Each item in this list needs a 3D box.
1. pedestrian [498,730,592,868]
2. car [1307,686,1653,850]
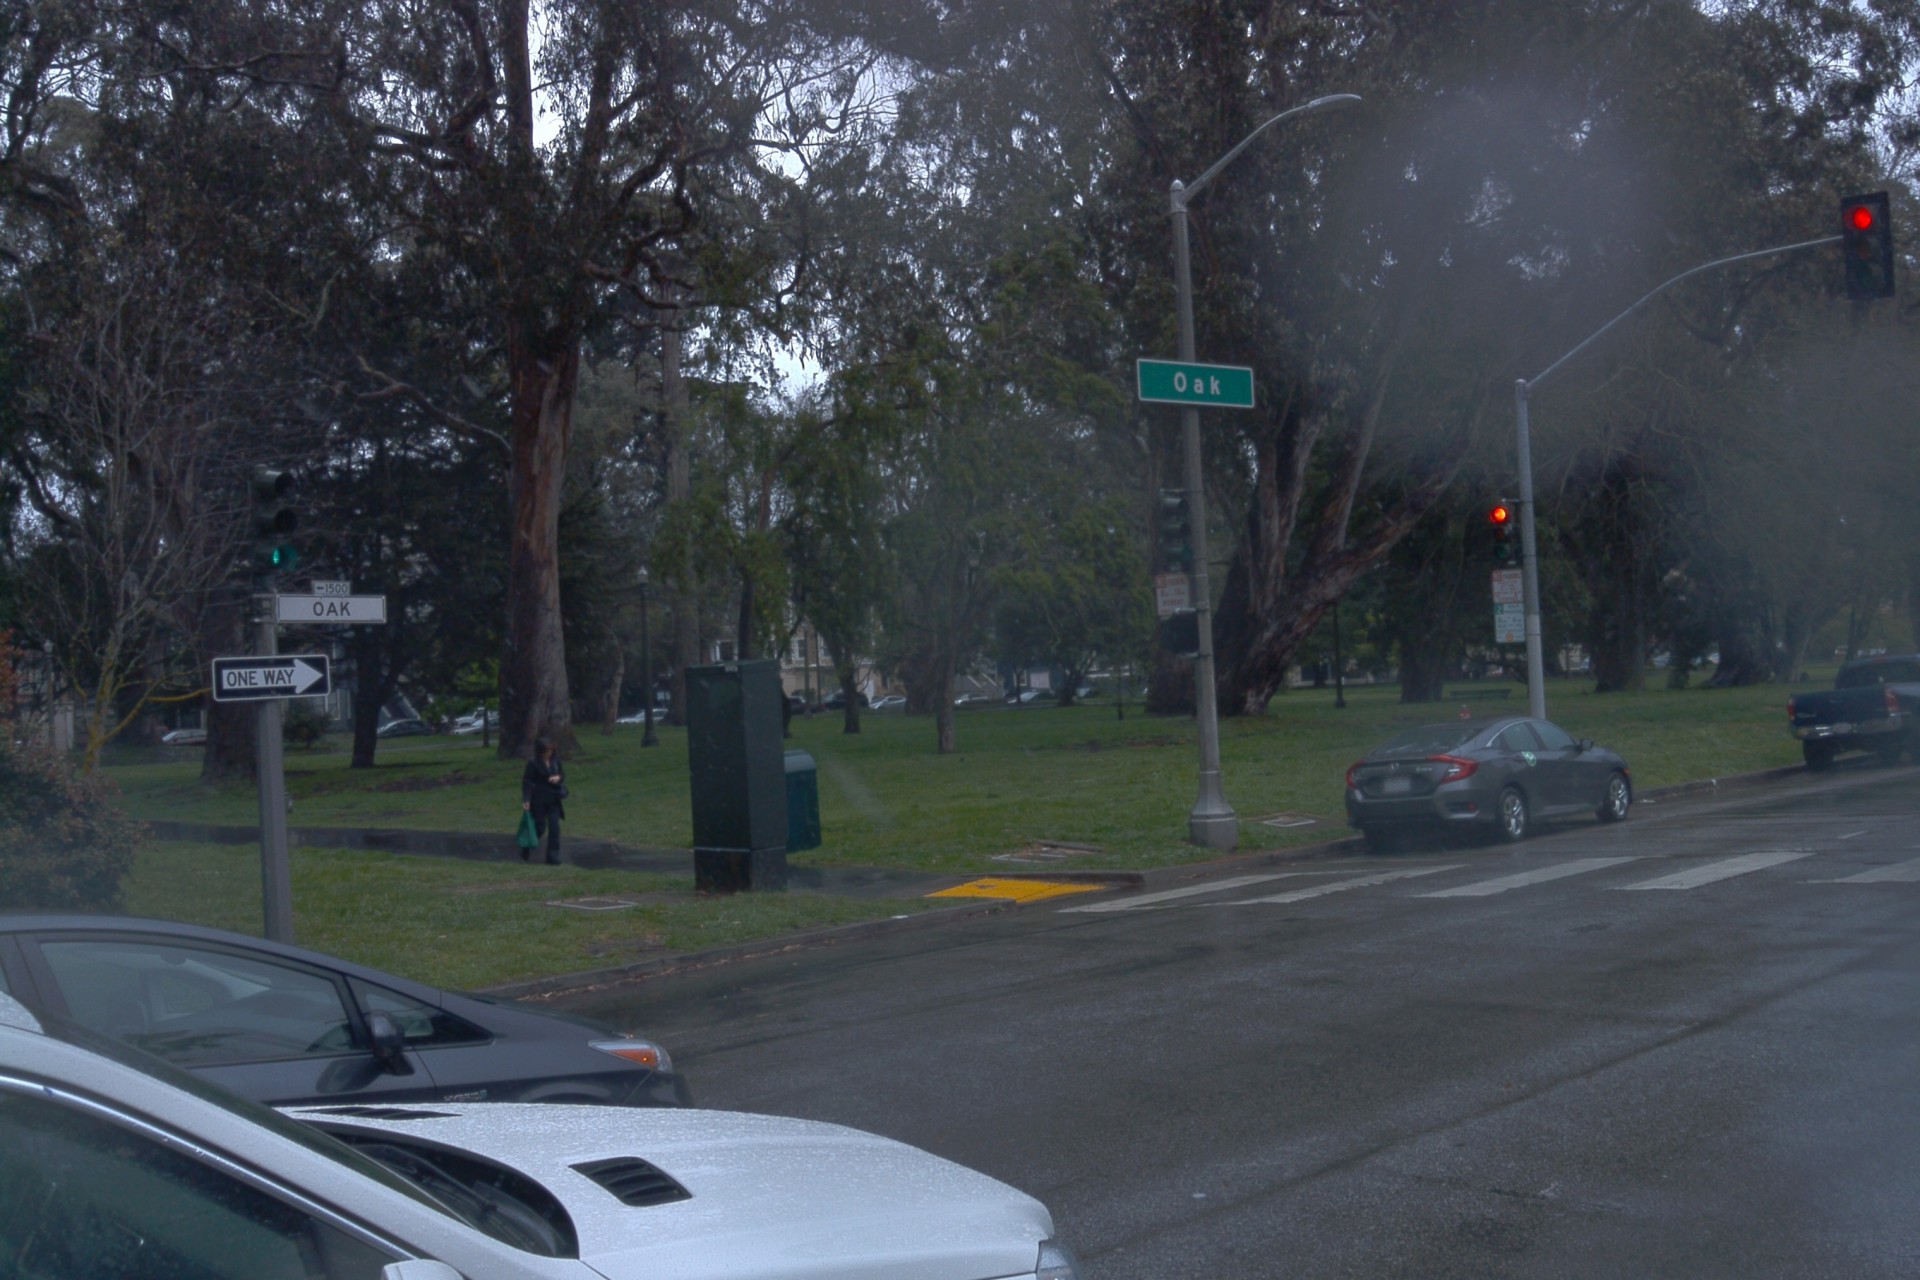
[{"bbox_3d":[-4.992,1.892,24.709,0.722,1.560,0.835,1,2,38],"label":"pedestrian"},{"bbox_3d":[6.195,1.415,24.128,2.031,1.540,4.554,1,2,42],"label":"car"}]
